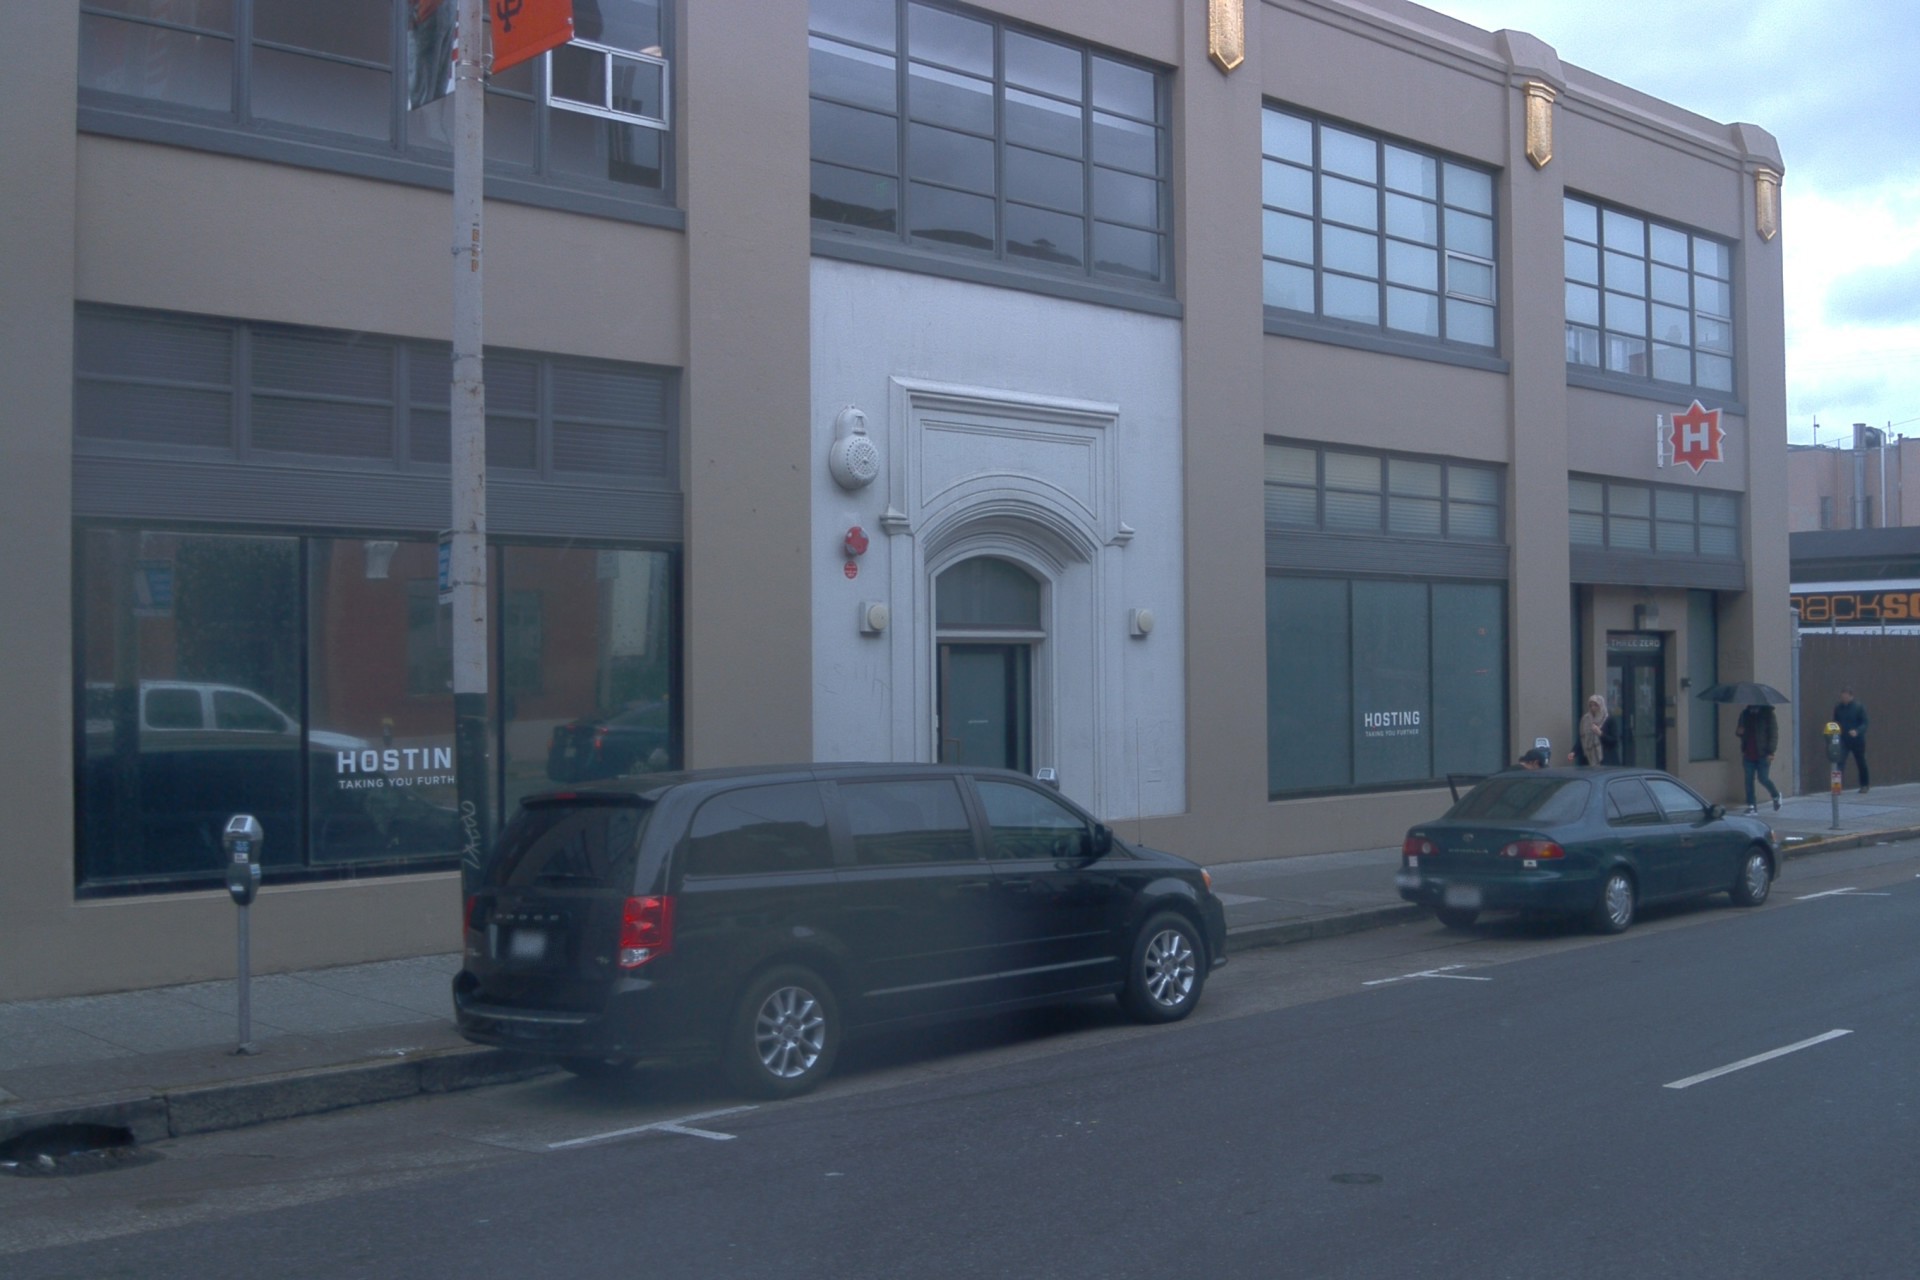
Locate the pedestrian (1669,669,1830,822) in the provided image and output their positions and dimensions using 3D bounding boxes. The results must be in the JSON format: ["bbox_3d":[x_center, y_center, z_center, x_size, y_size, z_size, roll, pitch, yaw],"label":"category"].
[{"bbox_3d":[10.602,1.379,27.931,1.513,1.950,1.495,0,0,-41],"label":"pedestrian"}]

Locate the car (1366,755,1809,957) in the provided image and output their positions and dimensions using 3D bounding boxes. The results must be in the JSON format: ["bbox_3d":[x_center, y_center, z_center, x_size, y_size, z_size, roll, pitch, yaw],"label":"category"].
[{"bbox_3d":[5.579,1.782,18.192,4.350,1.328,1.799,0,0,-44],"label":"car"}]

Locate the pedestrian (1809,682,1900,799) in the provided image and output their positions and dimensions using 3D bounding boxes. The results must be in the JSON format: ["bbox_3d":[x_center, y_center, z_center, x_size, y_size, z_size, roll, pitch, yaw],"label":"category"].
[{"bbox_3d":[13.473,1.494,31.325,1.083,1.708,0.924,0,0,-44],"label":"pedestrian"}]

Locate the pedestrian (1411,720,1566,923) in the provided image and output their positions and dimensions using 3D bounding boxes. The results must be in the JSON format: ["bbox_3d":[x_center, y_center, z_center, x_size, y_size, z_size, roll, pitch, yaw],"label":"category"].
[{"bbox_3d":[4.897,1.647,19.285,0.863,1.767,1.101,0,0,-44],"label":"pedestrian"}]

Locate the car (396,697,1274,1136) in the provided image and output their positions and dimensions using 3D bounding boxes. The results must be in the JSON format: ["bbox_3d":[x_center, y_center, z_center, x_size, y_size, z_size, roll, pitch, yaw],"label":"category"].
[{"bbox_3d":[-0.527,1.388,12.458,5.129,1.960,2.084,0,0,-44],"label":"car"}]

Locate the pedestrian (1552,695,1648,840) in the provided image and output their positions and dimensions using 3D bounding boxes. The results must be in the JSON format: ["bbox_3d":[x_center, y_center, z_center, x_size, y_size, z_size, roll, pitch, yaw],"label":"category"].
[{"bbox_3d":[7.993,1.568,25.966,0.852,1.740,0.841,0,0,-44],"label":"pedestrian"}]
